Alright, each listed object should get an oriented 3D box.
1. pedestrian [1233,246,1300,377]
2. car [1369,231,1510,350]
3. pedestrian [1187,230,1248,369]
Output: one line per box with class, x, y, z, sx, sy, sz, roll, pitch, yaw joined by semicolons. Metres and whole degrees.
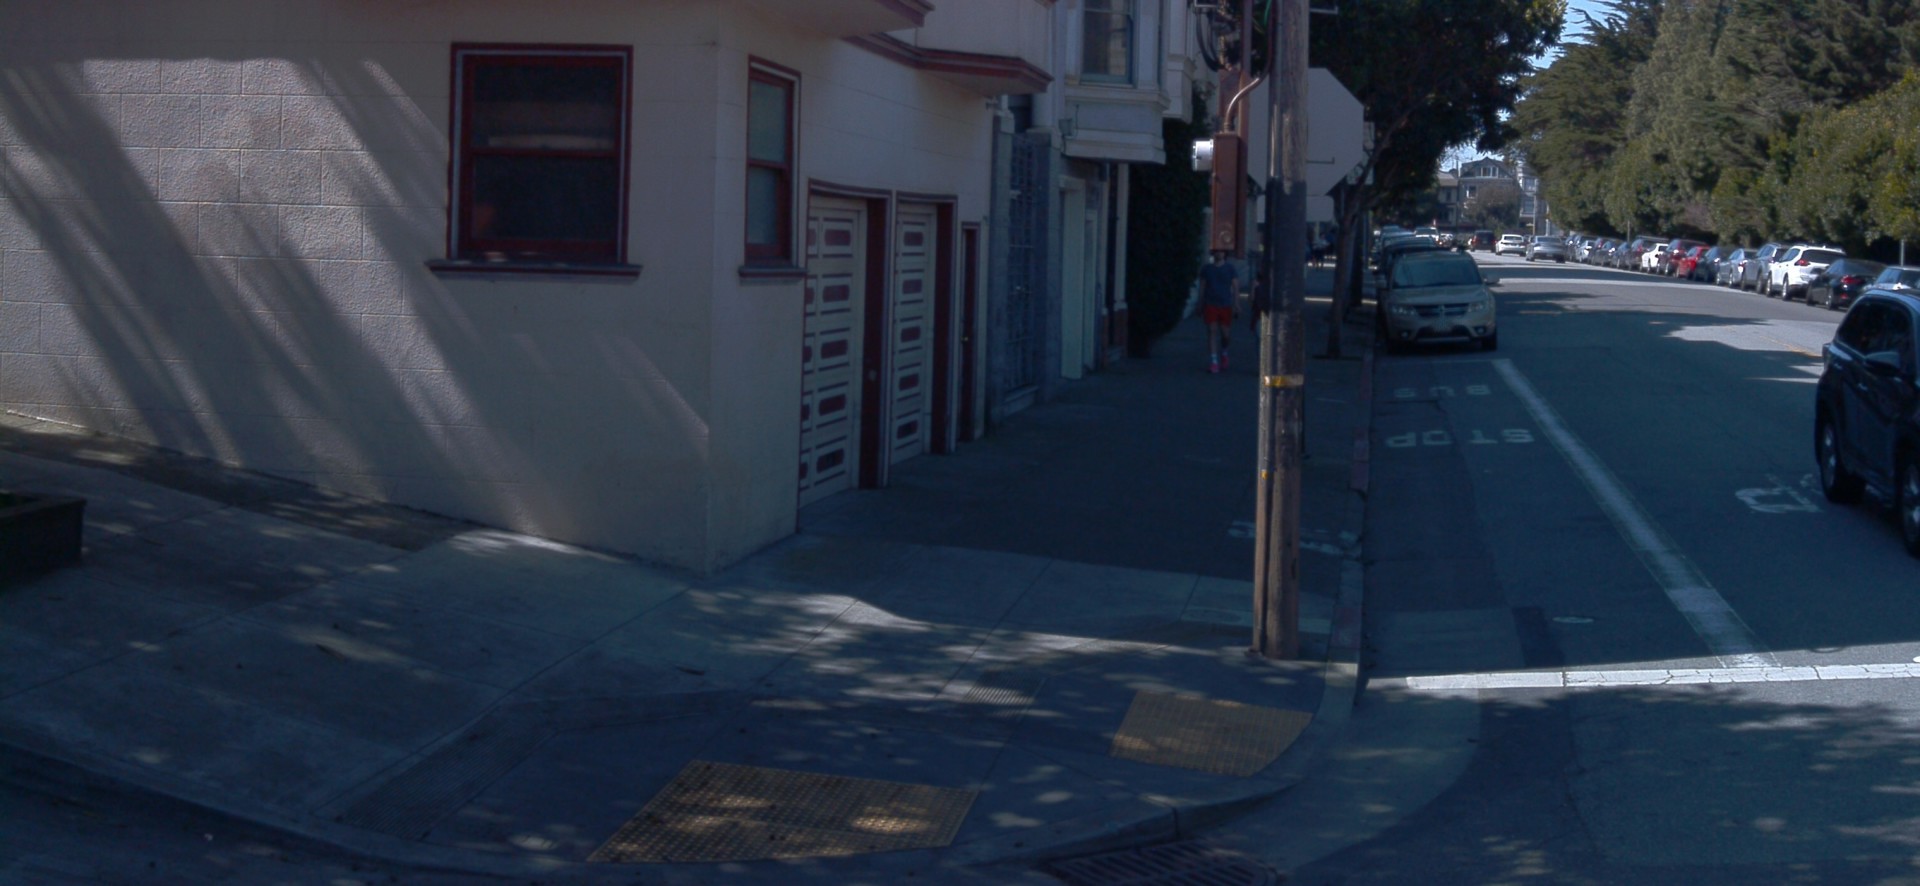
pedestrian;4.332;-1.877;28.983;0.862;1.775;0.995;1;3;12
car;8.469;-2.799;36.667;2.224;1.869;5.047;1;6;10
pedestrian;3.663;-2.051;29.180;0.805;1.925;0.887;0;2;10
